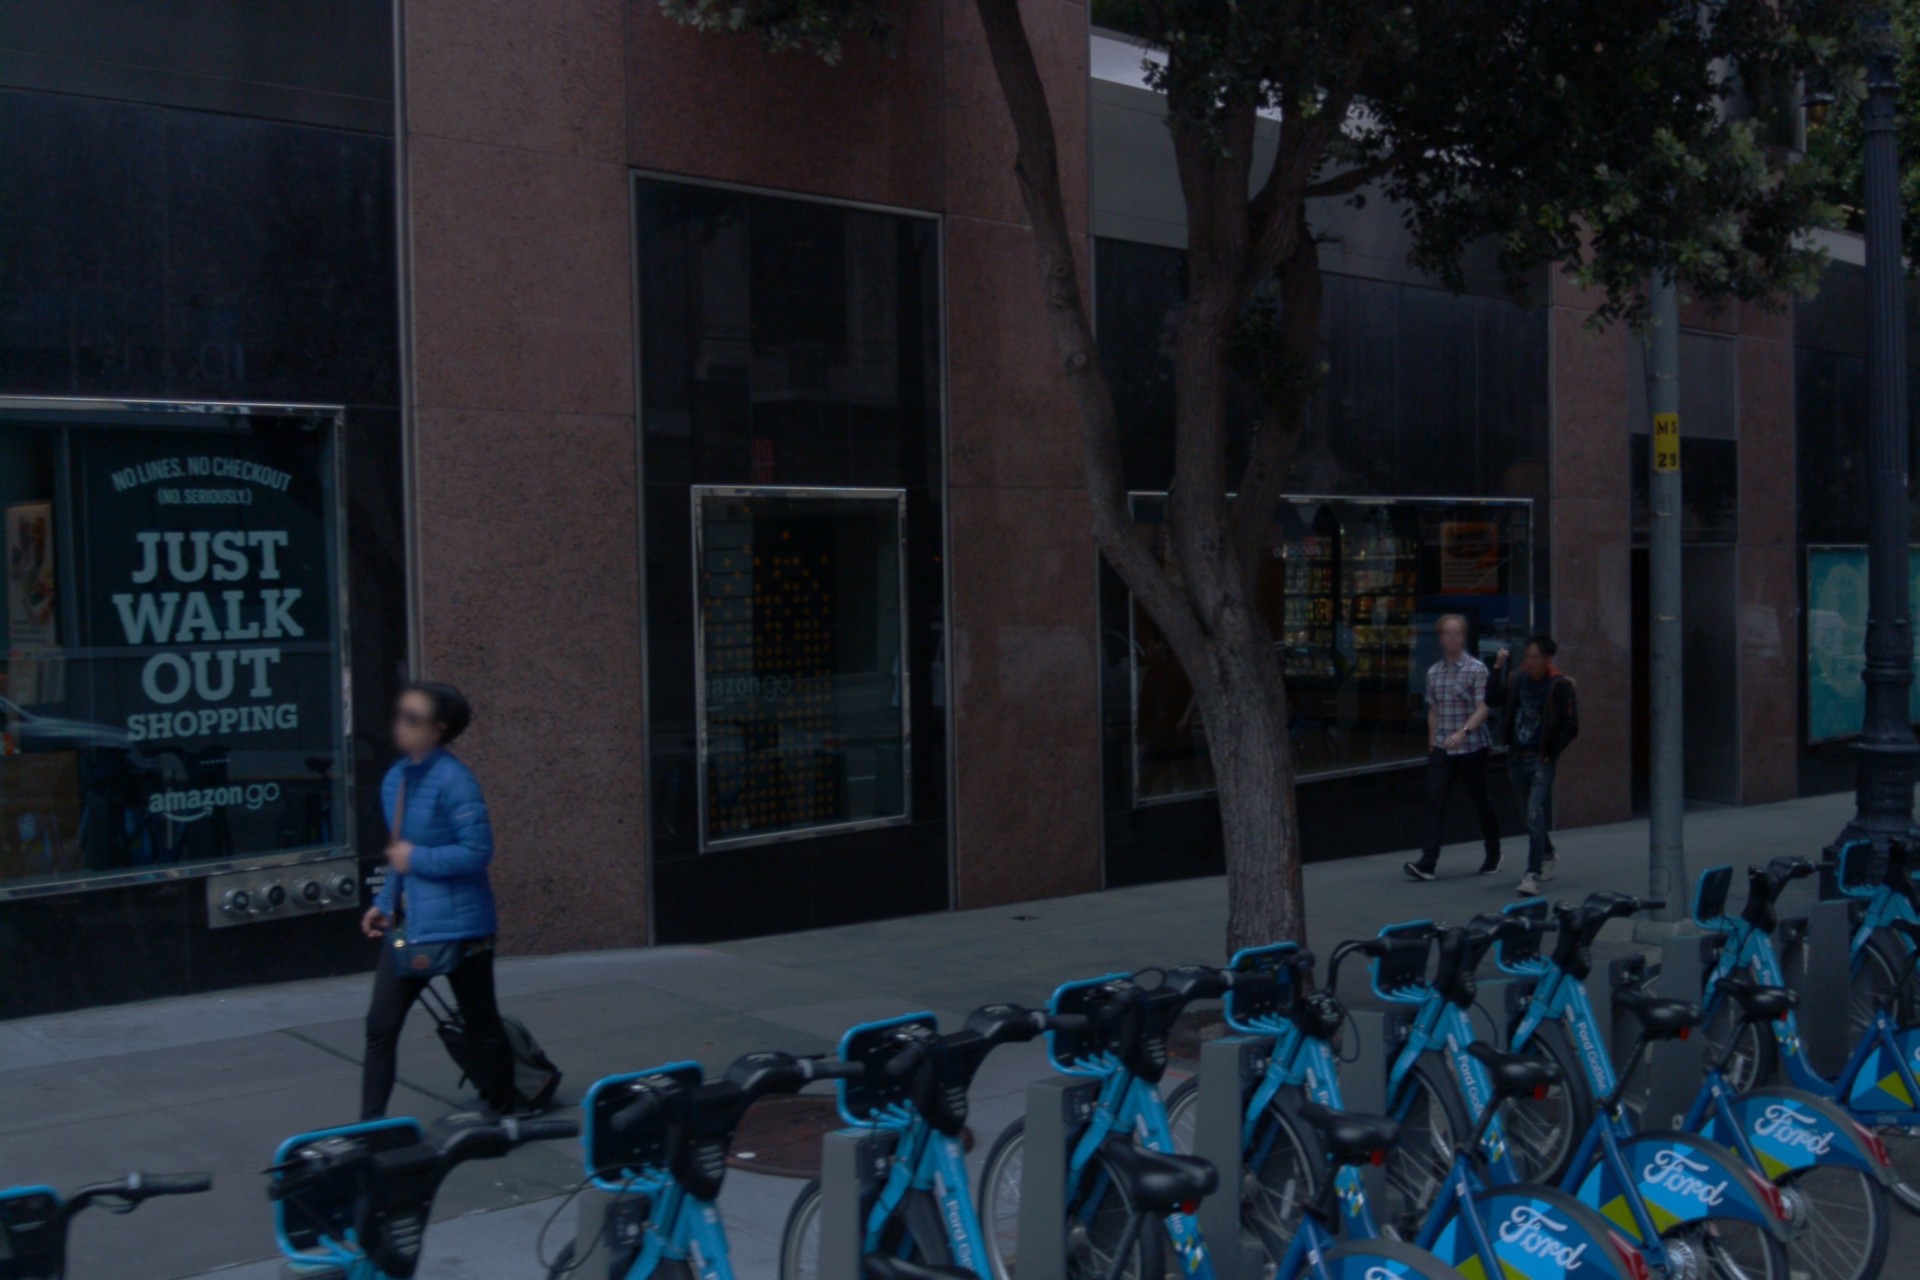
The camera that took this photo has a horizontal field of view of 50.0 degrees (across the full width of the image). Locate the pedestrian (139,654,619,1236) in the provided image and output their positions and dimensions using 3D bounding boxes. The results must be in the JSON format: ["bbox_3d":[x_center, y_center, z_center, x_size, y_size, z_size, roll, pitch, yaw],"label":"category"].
[{"bbox_3d":[-1.869,0.889,6.700,0.938,1.660,1.163,0,1,37],"label":"pedestrian"}]

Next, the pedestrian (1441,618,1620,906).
[{"bbox_3d":[3.848,0.777,13.860,0.782,1.850,1.041,1,1,41],"label":"pedestrian"}]

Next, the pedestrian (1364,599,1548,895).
[{"bbox_3d":[3.465,0.705,14.351,0.789,1.970,1.117,1,1,43],"label":"pedestrian"}]
